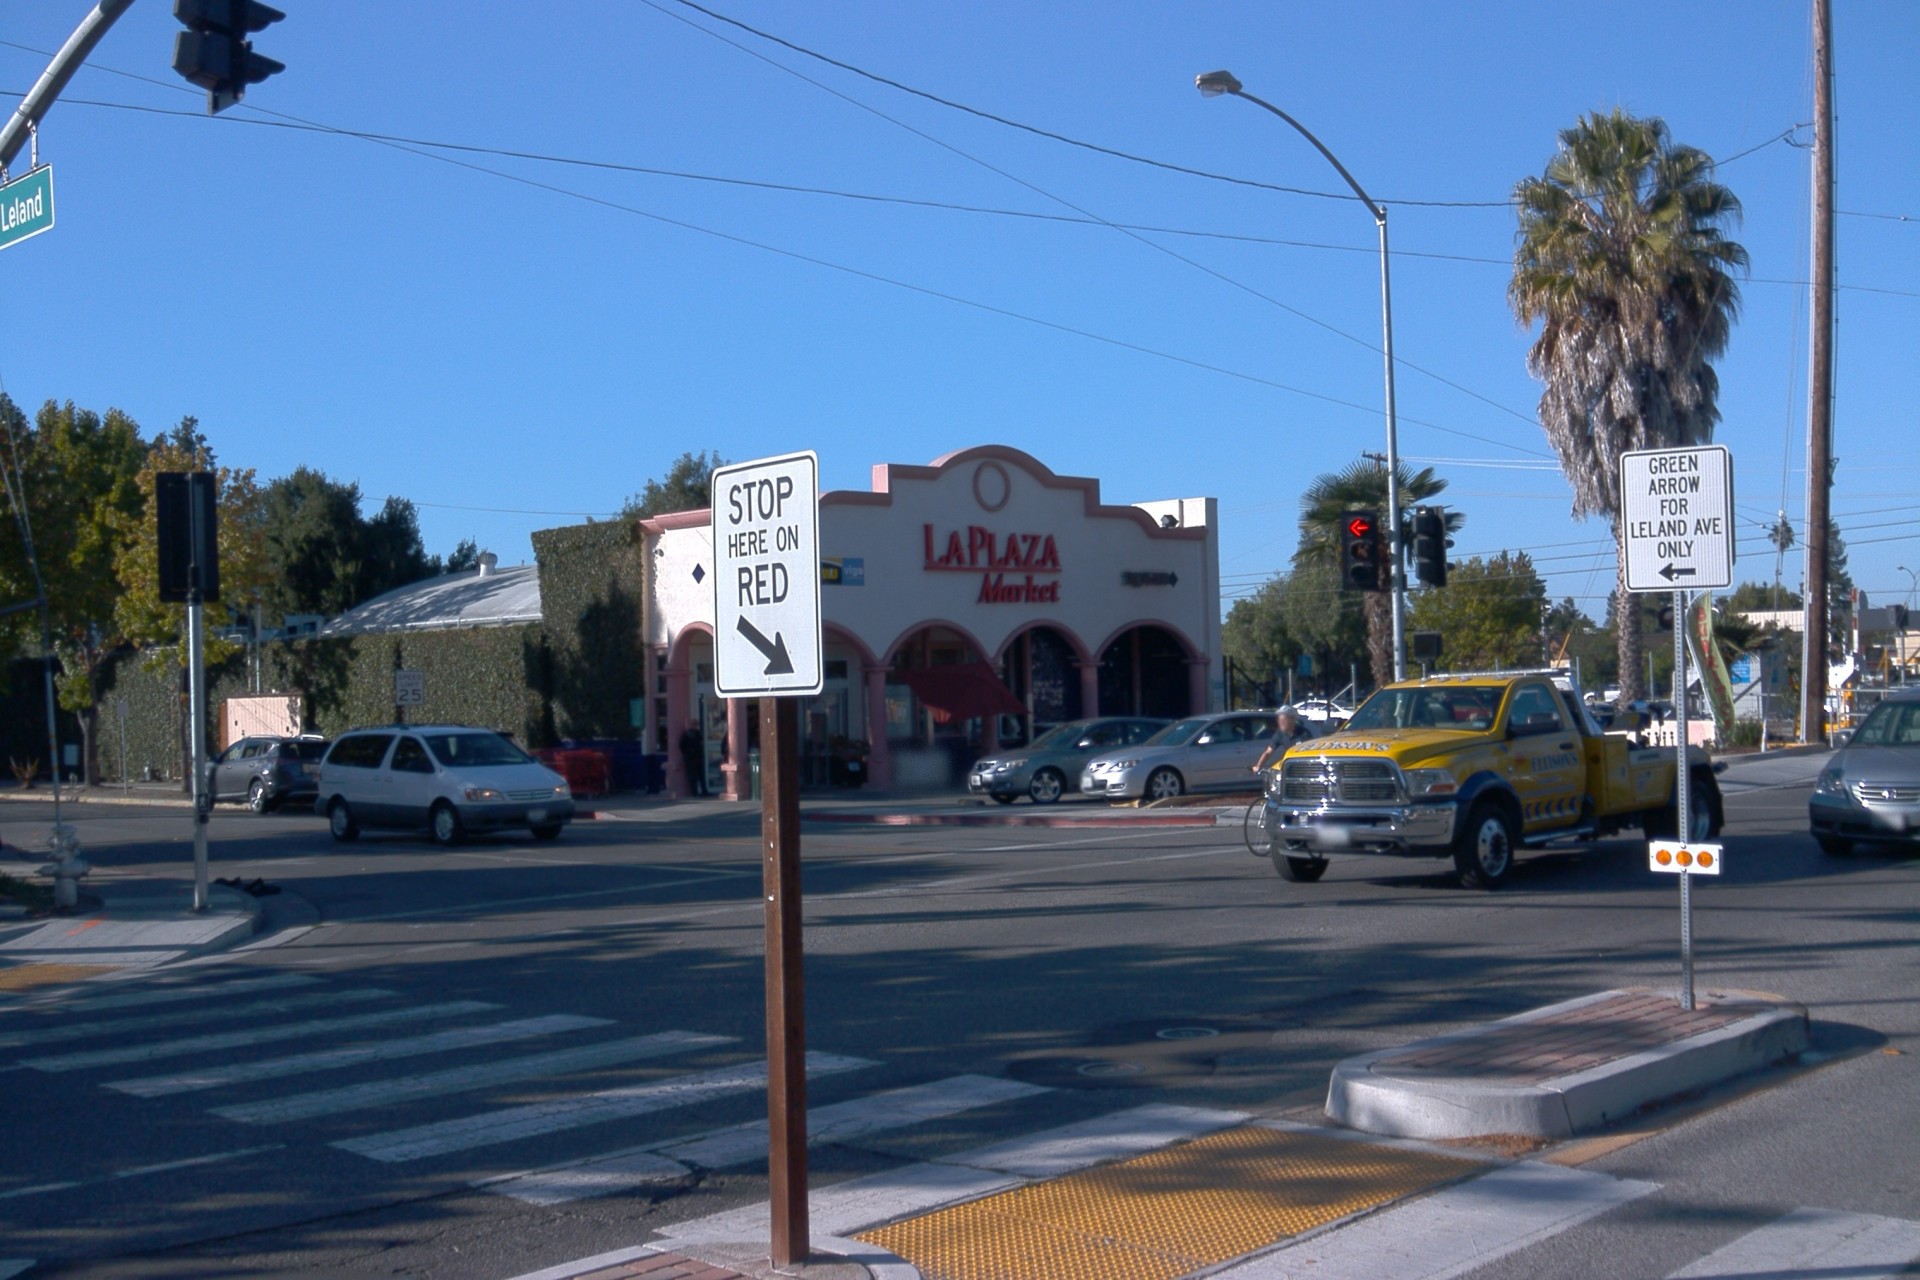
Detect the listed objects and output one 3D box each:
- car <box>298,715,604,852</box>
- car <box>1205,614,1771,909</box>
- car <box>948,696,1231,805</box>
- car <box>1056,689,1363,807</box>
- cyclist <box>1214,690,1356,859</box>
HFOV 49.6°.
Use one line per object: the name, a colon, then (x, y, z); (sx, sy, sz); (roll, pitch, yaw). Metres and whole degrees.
car: (-7.595, 2.036, 30.696); (4.949, 1.710, 2.120); (0, -1, 45)
car: (5.708, 1.084, 21.547); (2.619, 2.570, 7.051); (0, -1, 43)
car: (2.288, 1.891, 36.544); (4.565, 1.760, 2.047); (0, 0, -28)
car: (4.107, 1.723, 34.199); (4.646, 1.780, 2.014); (0, 0, -23)
cyclist: (3.786, 1.527, 24.102); (0.698, 1.860, 1.802); (0, -1, 45)
